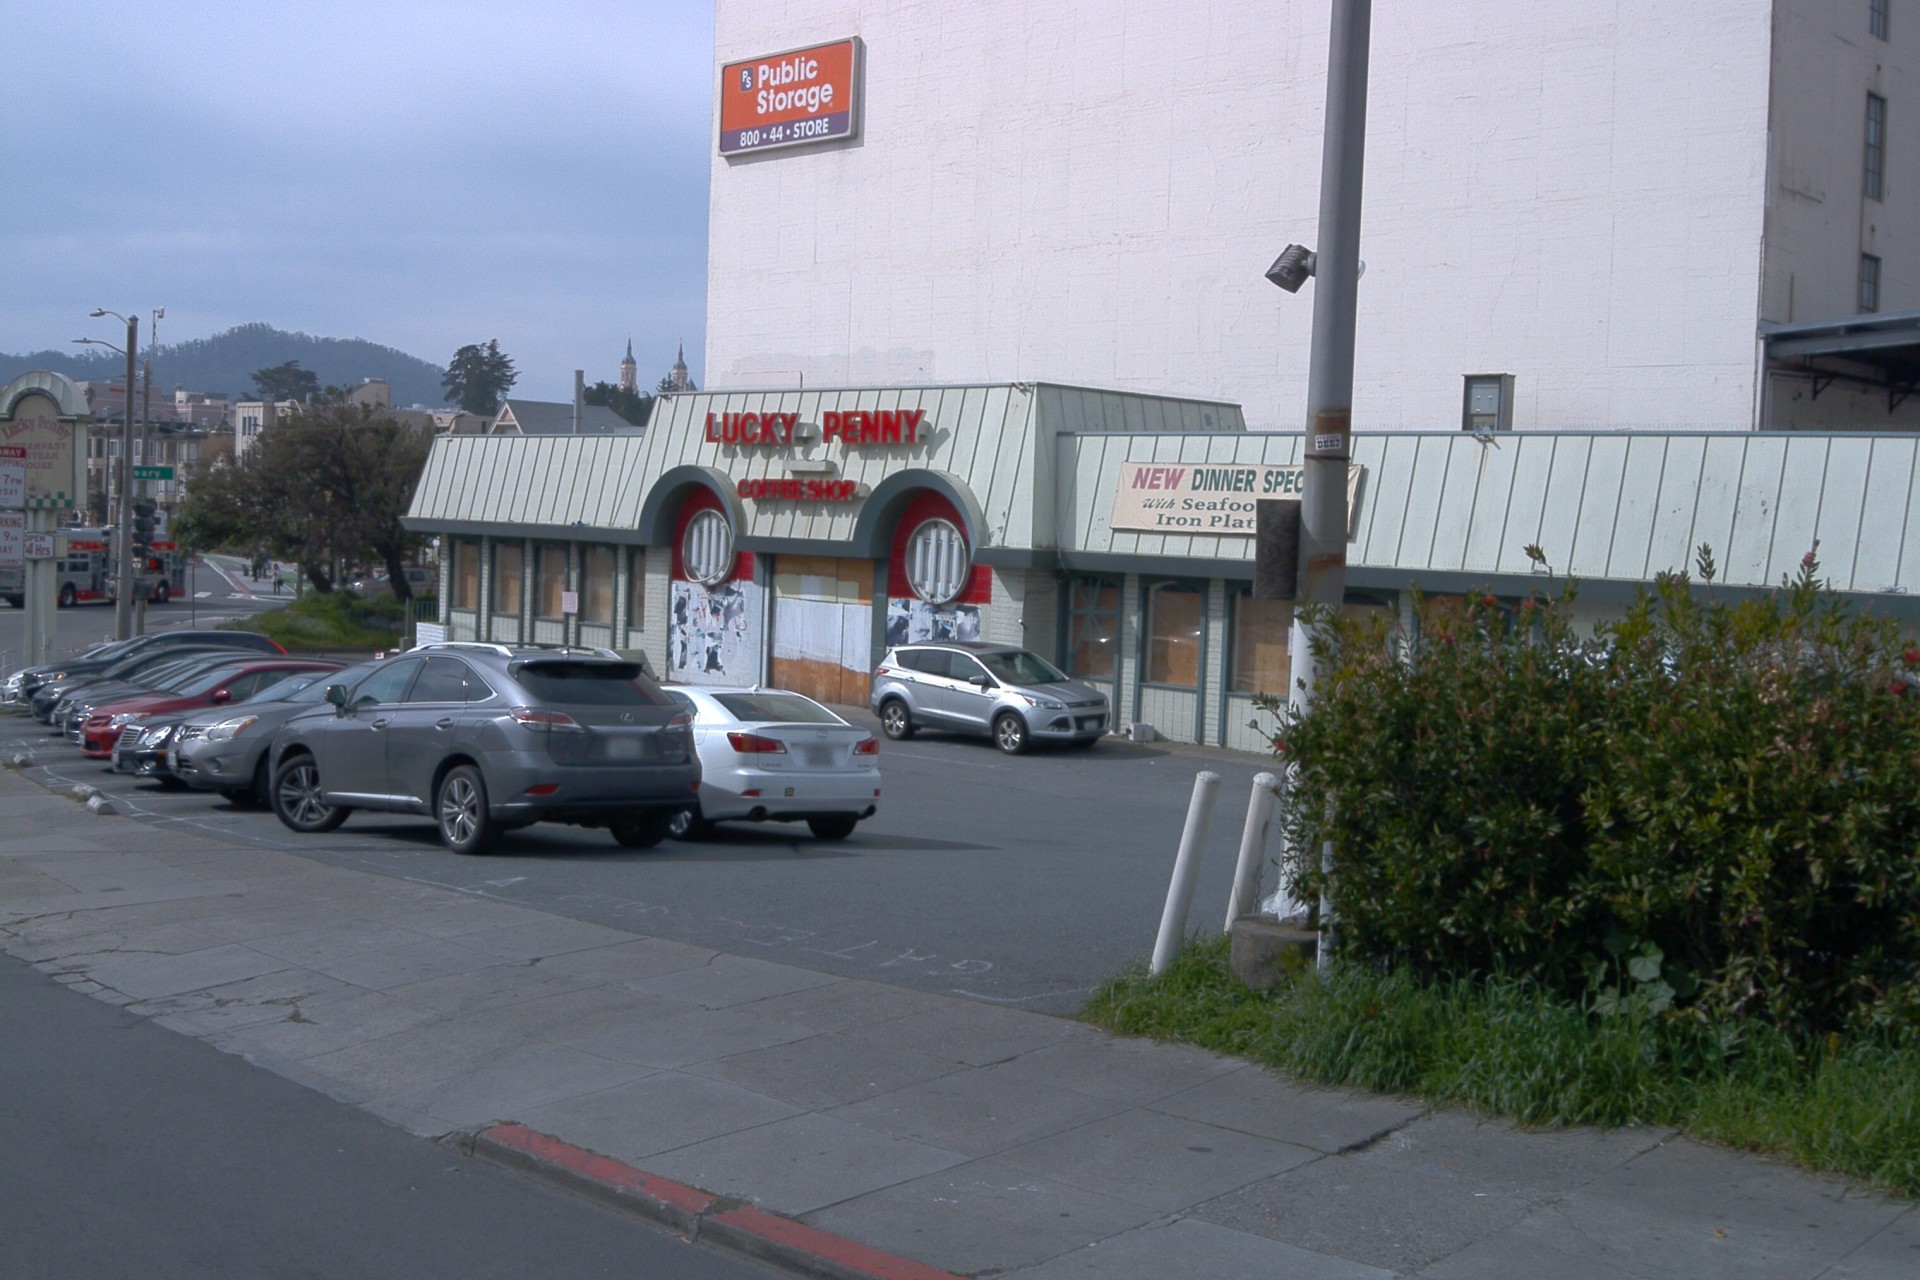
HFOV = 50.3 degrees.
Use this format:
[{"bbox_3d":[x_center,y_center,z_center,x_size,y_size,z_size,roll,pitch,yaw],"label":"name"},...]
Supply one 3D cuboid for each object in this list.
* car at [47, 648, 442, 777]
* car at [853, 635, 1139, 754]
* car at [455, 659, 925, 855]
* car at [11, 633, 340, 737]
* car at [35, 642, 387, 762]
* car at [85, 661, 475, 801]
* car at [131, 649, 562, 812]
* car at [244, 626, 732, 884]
[{"bbox_3d":[-9.475,0.895,27.290,4.484,1.550,2.134,0,0,-43],"label":"car"},{"bbox_3d":[0.526,0.835,33.808,2.134,1.790,4.557,0,0,-43],"label":"car"},{"bbox_3d":[-2.725,1.014,19.811,2.088,1.580,4.738,0,0,-44],"label":"car"},{"bbox_3d":[-13.095,0.710,34.309,4.651,1.610,2.192,0,0,-43],"label":"car"},{"bbox_3d":[-10.771,0.841,29.595,4.343,1.580,1.994,0,0,-43],"label":"car"},{"bbox_3d":[-8.108,1.021,24.593,4.029,1.500,1.869,0,0,-44],"label":"car"},{"bbox_3d":[-6.578,0.901,22.198,1.975,1.570,4.019,1,0,45],"label":"car"},{"bbox_3d":[-4.194,0.856,17.731,2.065,1.920,4.493,0,0,-44],"label":"car"}]
